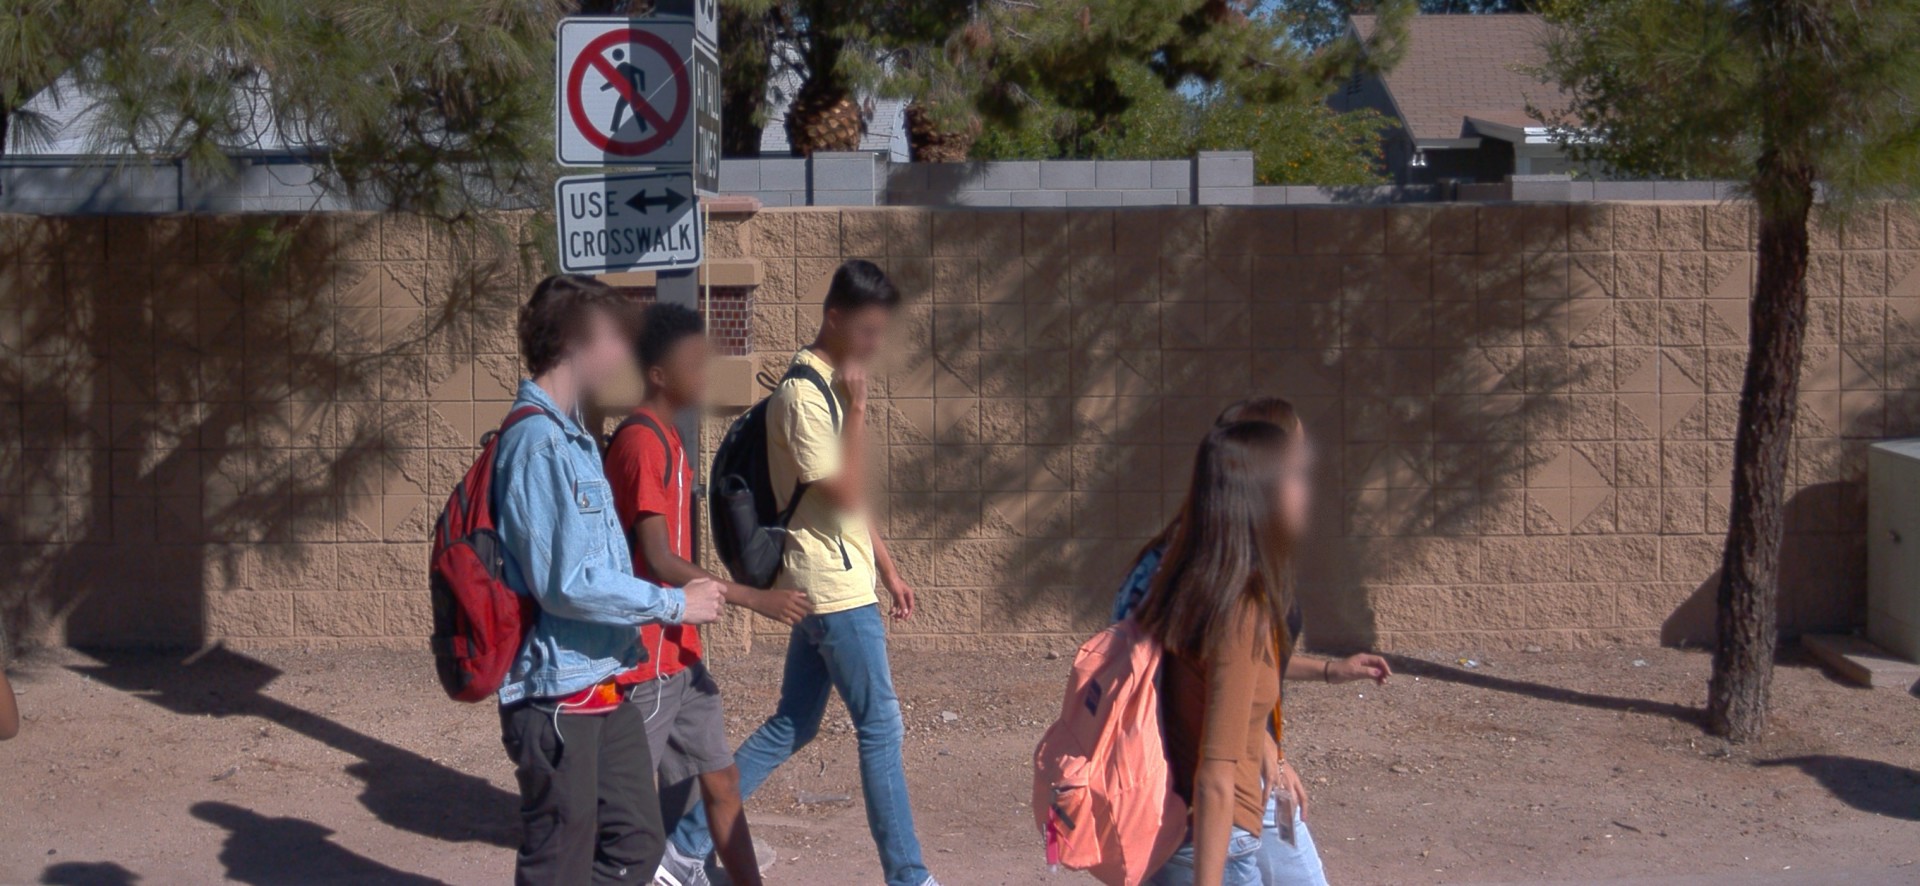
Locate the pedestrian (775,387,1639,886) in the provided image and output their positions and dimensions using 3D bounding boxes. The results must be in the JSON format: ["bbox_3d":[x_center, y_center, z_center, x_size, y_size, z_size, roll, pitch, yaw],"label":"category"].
[{"bbox_3d":[0.346,0.779,3.633,1.287,1.670,0.989,-1,1,-7],"label":"pedestrian"}]

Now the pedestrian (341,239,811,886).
[{"bbox_3d":[-0.905,0.453,5.236,1.025,1.920,0.983,0,1,-3],"label":"pedestrian"}]

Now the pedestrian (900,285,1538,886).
[{"bbox_3d":[0.481,0.601,4.320,1.027,1.830,0.982,-1,1,-13],"label":"pedestrian"}]

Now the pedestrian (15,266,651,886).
[{"bbox_3d":[-1.201,0.580,4.263,1.025,1.870,0.983,0,1,-3],"label":"pedestrian"}]

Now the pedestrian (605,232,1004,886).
[{"bbox_3d":[-0.426,0.367,5.931,1.025,1.920,0.983,0,1,-3],"label":"pedestrian"}]
